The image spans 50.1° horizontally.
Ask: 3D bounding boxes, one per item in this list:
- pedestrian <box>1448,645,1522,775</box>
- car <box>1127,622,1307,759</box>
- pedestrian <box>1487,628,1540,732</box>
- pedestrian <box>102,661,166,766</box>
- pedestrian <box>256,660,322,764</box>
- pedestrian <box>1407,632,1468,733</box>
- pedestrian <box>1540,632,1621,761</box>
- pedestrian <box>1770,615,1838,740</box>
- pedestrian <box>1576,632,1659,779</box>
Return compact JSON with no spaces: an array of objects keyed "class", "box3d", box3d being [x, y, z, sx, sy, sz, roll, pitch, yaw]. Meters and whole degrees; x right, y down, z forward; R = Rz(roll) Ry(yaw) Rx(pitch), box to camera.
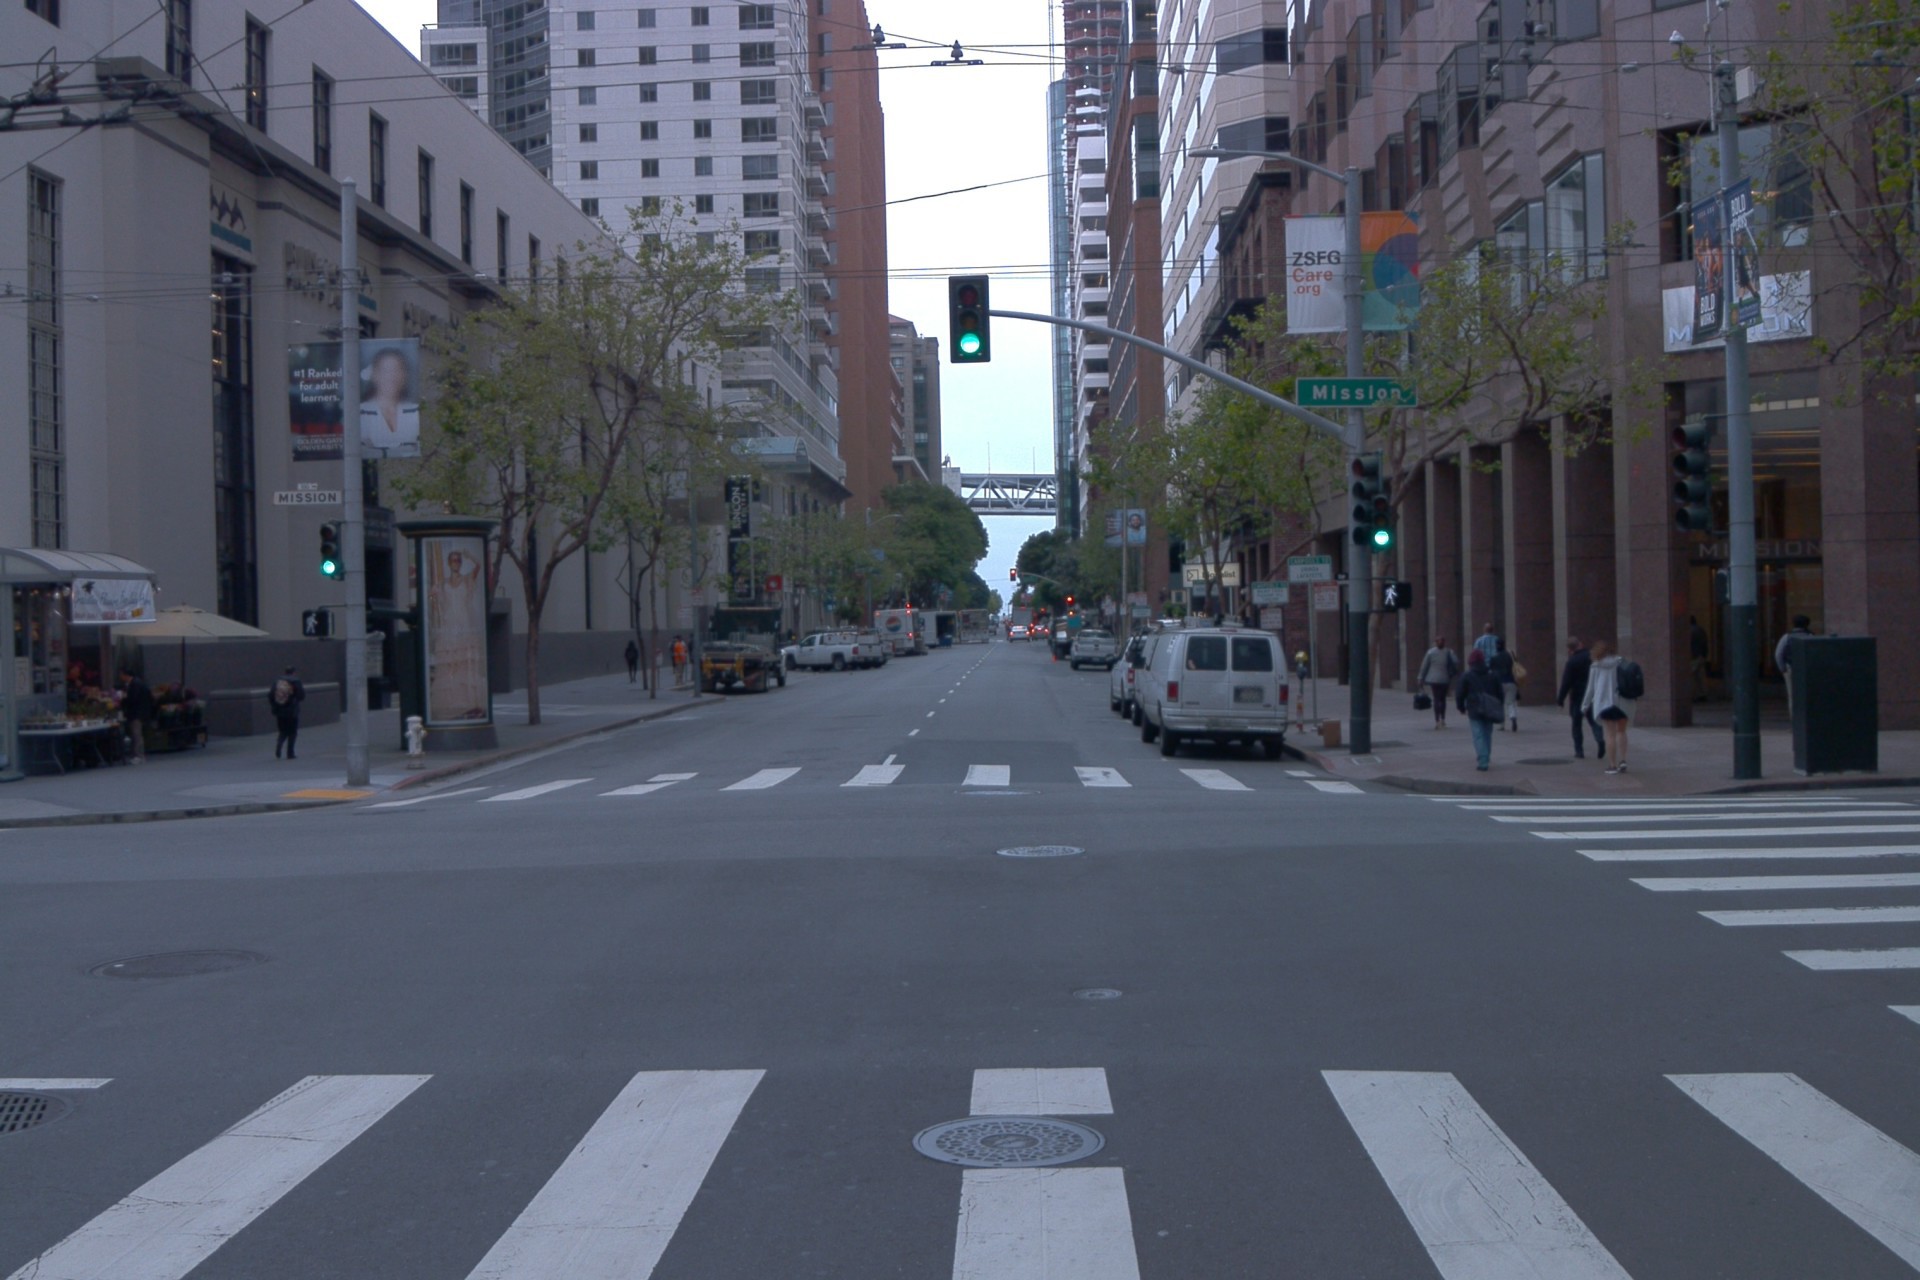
[{"class":"pedestrian","box3d":[7.074,0.929,27.732,0.757,1.713,0.969,0,1,2]},{"class":"car","box3d":[4.217,0.755,34.666,2.314,2.100,5.500,0,1,0]},{"class":"pedestrian","box3d":[9.082,0.646,33.744,0.668,1.666,0.852,0,1,2]},{"class":"pedestrian","box3d":[-14.059,1.237,35.002,0.753,1.746,0.847,0,1,-3]},{"class":"pedestrian","box3d":[-11.695,1.248,35.866,0.844,1.766,0.961,0,1,-1]},{"class":"pedestrian","box3d":[8.223,0.722,35.413,0.919,1.696,0.981,0,1,7]},{"class":"pedestrian","box3d":[8.531,0.766,28.298,0.856,1.736,0.997,0,1,4]},{"class":"pedestrian","box3d":[12.263,0.525,29.891,0.784,1.775,1.048,0,1,16]},{"class":"pedestrian","box3d":[8.517,0.831,26.663,0.844,1.856,0.960,0,1,6]}]
